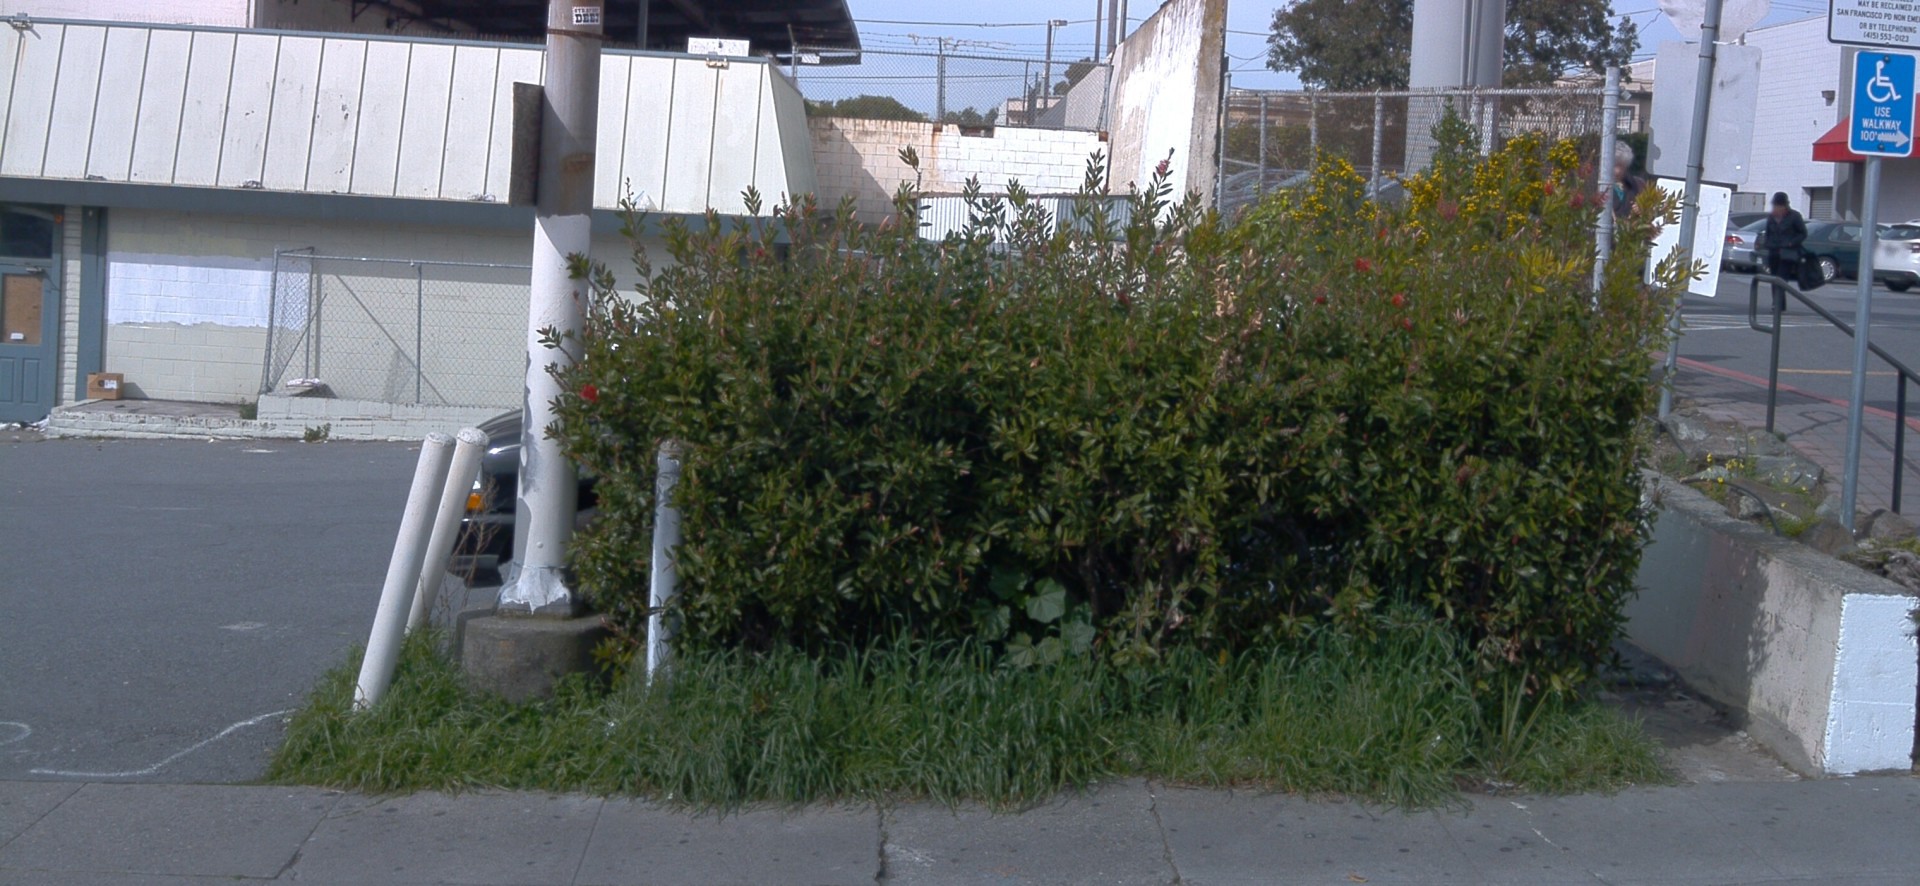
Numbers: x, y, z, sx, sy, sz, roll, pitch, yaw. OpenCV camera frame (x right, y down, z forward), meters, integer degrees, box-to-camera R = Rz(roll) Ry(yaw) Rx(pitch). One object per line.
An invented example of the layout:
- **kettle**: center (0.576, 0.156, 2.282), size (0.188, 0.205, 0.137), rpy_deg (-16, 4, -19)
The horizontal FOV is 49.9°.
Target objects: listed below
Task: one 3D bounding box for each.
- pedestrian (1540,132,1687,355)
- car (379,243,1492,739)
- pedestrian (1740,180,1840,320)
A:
- **pedestrian**: center (5.048, -1.546, 15.995), size (0.869, 1.685, 0.833), rpy_deg (0, 1, 0)
- **car**: center (-0.121, 0.096, 9.899), size (4.799, 2.108, 2.006), rpy_deg (0, 3, -2)
- **pedestrian**: center (10.338, -2.406, 25.705), size (0.972, 1.705, 0.839), rpy_deg (-1, 2, -44)
